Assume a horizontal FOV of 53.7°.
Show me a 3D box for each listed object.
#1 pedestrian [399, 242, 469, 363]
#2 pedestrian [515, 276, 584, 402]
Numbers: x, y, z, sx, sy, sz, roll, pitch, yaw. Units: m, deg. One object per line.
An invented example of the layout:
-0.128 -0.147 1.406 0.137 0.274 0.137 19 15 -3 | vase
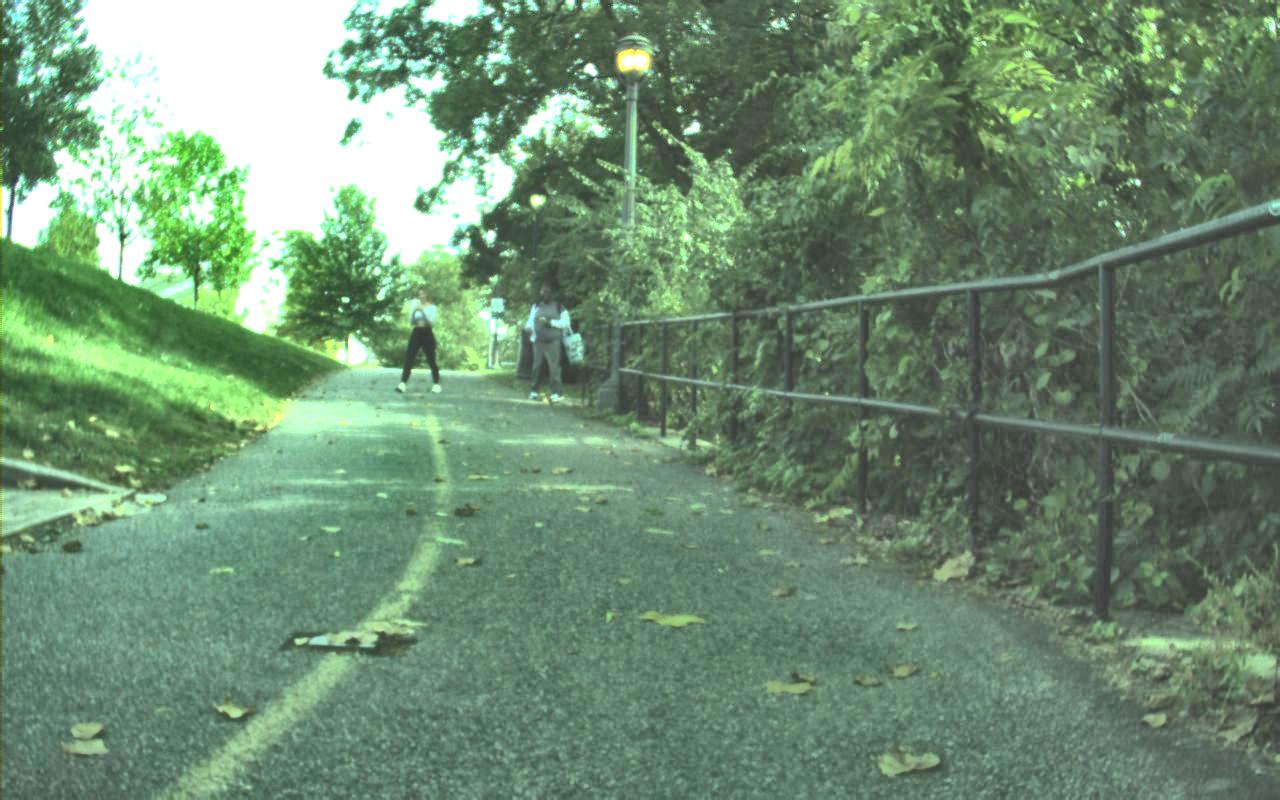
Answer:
-3.018 -1.407 18.346 0.836 1.742 0.862 0 0 4 | pedestrian
-1.296 -0.878 18.210 0.849 1.774 0.838 0 0 5 | pedestrian
